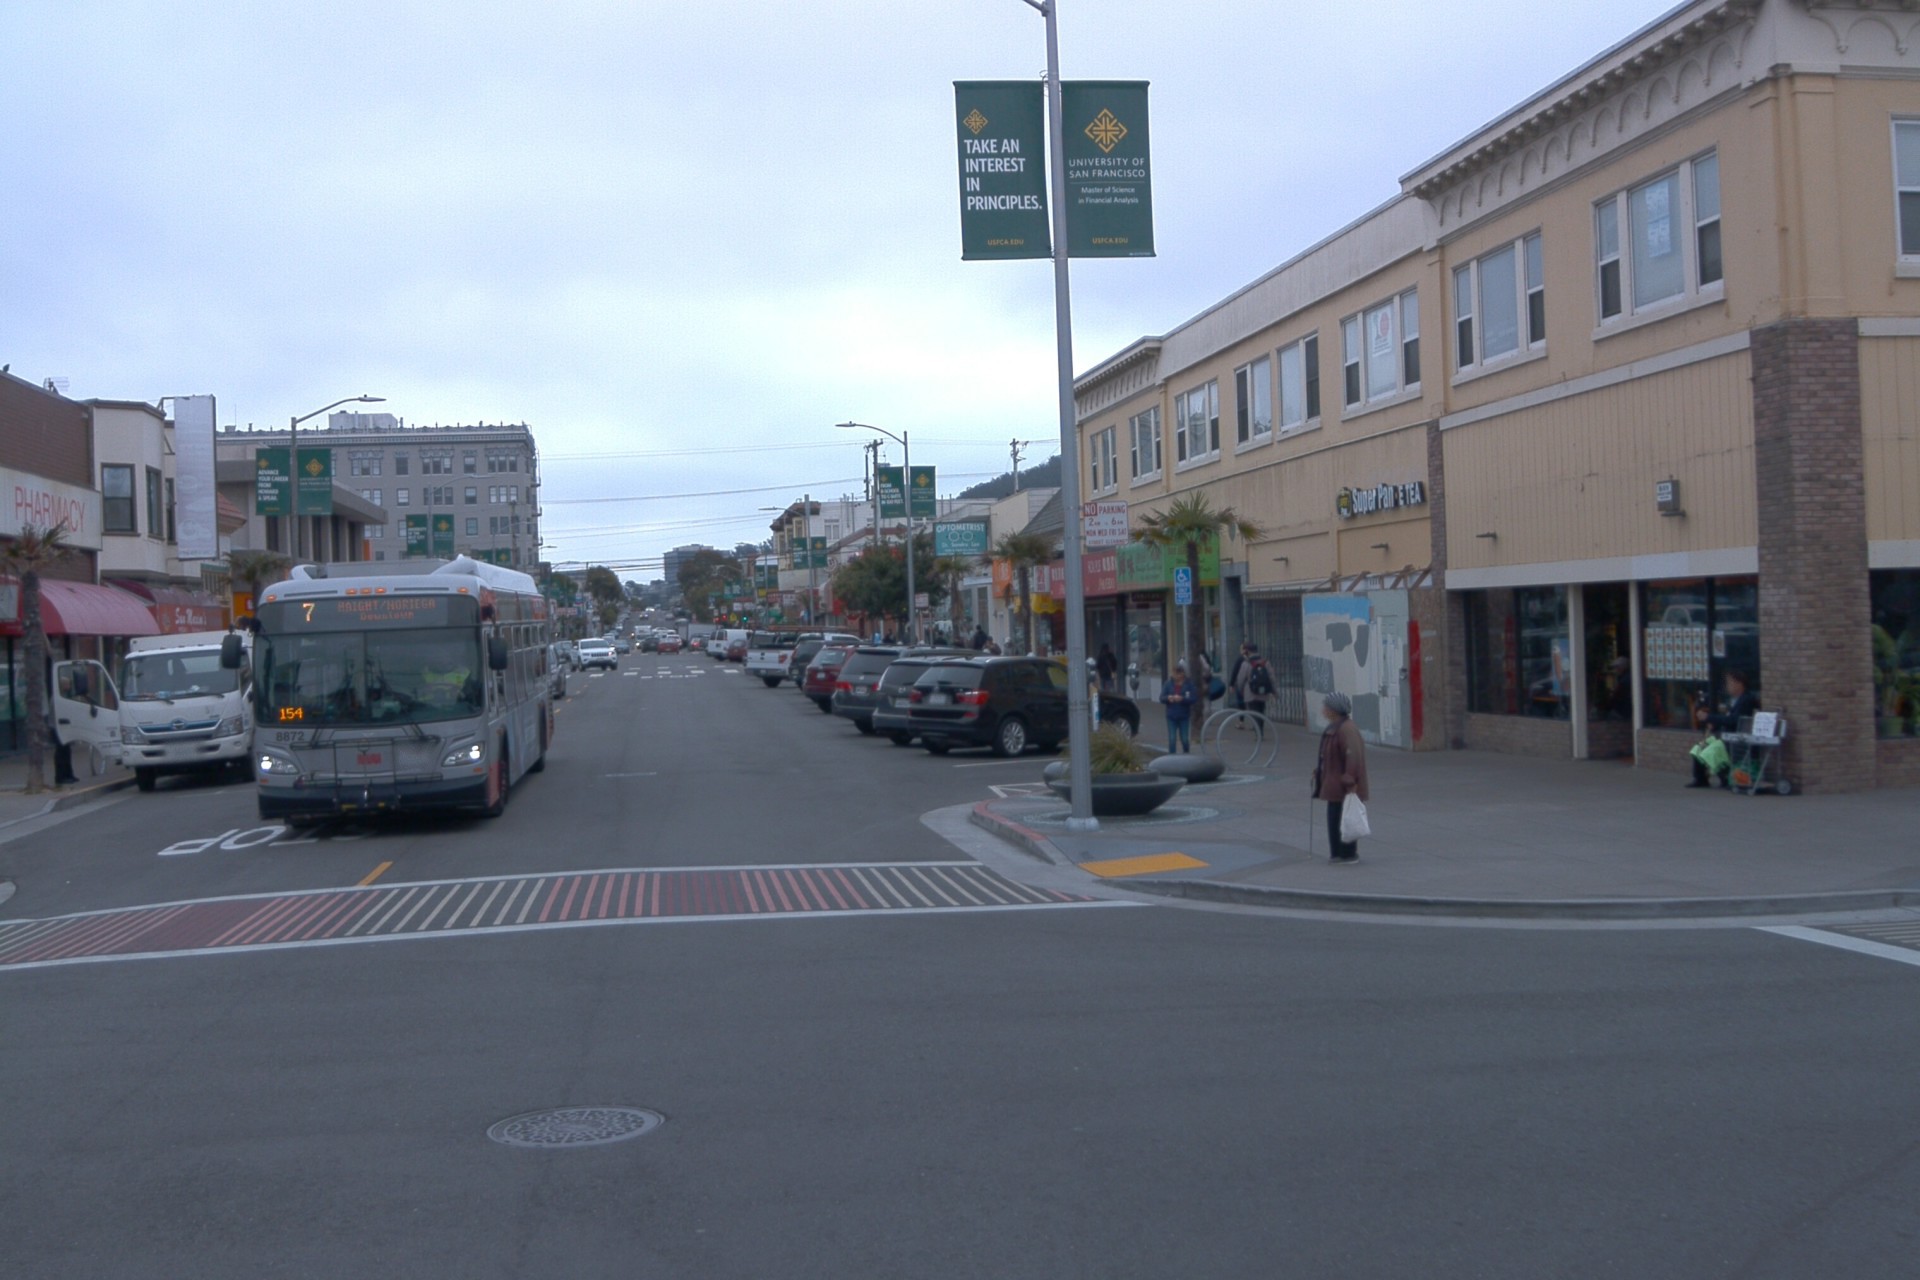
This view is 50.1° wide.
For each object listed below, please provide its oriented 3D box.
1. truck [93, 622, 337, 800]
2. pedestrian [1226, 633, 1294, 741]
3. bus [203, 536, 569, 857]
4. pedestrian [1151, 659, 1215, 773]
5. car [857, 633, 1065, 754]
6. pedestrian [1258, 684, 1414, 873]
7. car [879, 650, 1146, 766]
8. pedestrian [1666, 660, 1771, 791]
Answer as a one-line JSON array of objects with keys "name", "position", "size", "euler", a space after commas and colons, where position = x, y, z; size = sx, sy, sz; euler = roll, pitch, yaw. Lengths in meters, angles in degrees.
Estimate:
[{"name": "truck", "position": [-12.857, 1.081, 36.122], "size": [2.558, 2.730, 7.416], "euler": [0, 1, -8]}, {"name": "pedestrian", "position": [5.078, 0.783, 34.848], "size": [0.923, 1.770, 0.951], "euler": [0, 1, -6]}, {"name": "bus", "position": [-7.436, 0.504, 28.703], "size": [3.209, 3.480, 12.611], "euler": [0, 1, -8]}, {"name": "pedestrian", "position": [3.209, 1.088, 29.643], "size": [0.746, 1.598, 0.779], "euler": [0, 1, -6]}, {"name": "car", "position": [0.057, 0.919, 37.411], "size": [1.761, 2.040, 3.671], "euler": [1, 1, 42]}, {"name": "pedestrian", "position": [3.138, 1.133, 17.231], "size": [0.827, 1.477, 1.073], "euler": [-1, 1, -22]}, {"name": "car", "position": [0.961, 1.094, 35.095], "size": [2.044, 1.740, 4.509], "euler": [1, 1, 44]}, {"name": "pedestrian", "position": [8.276, 0.918, 22.463], "size": [0.739, 1.374, 0.873], "euler": [0, 1, -8]}]
